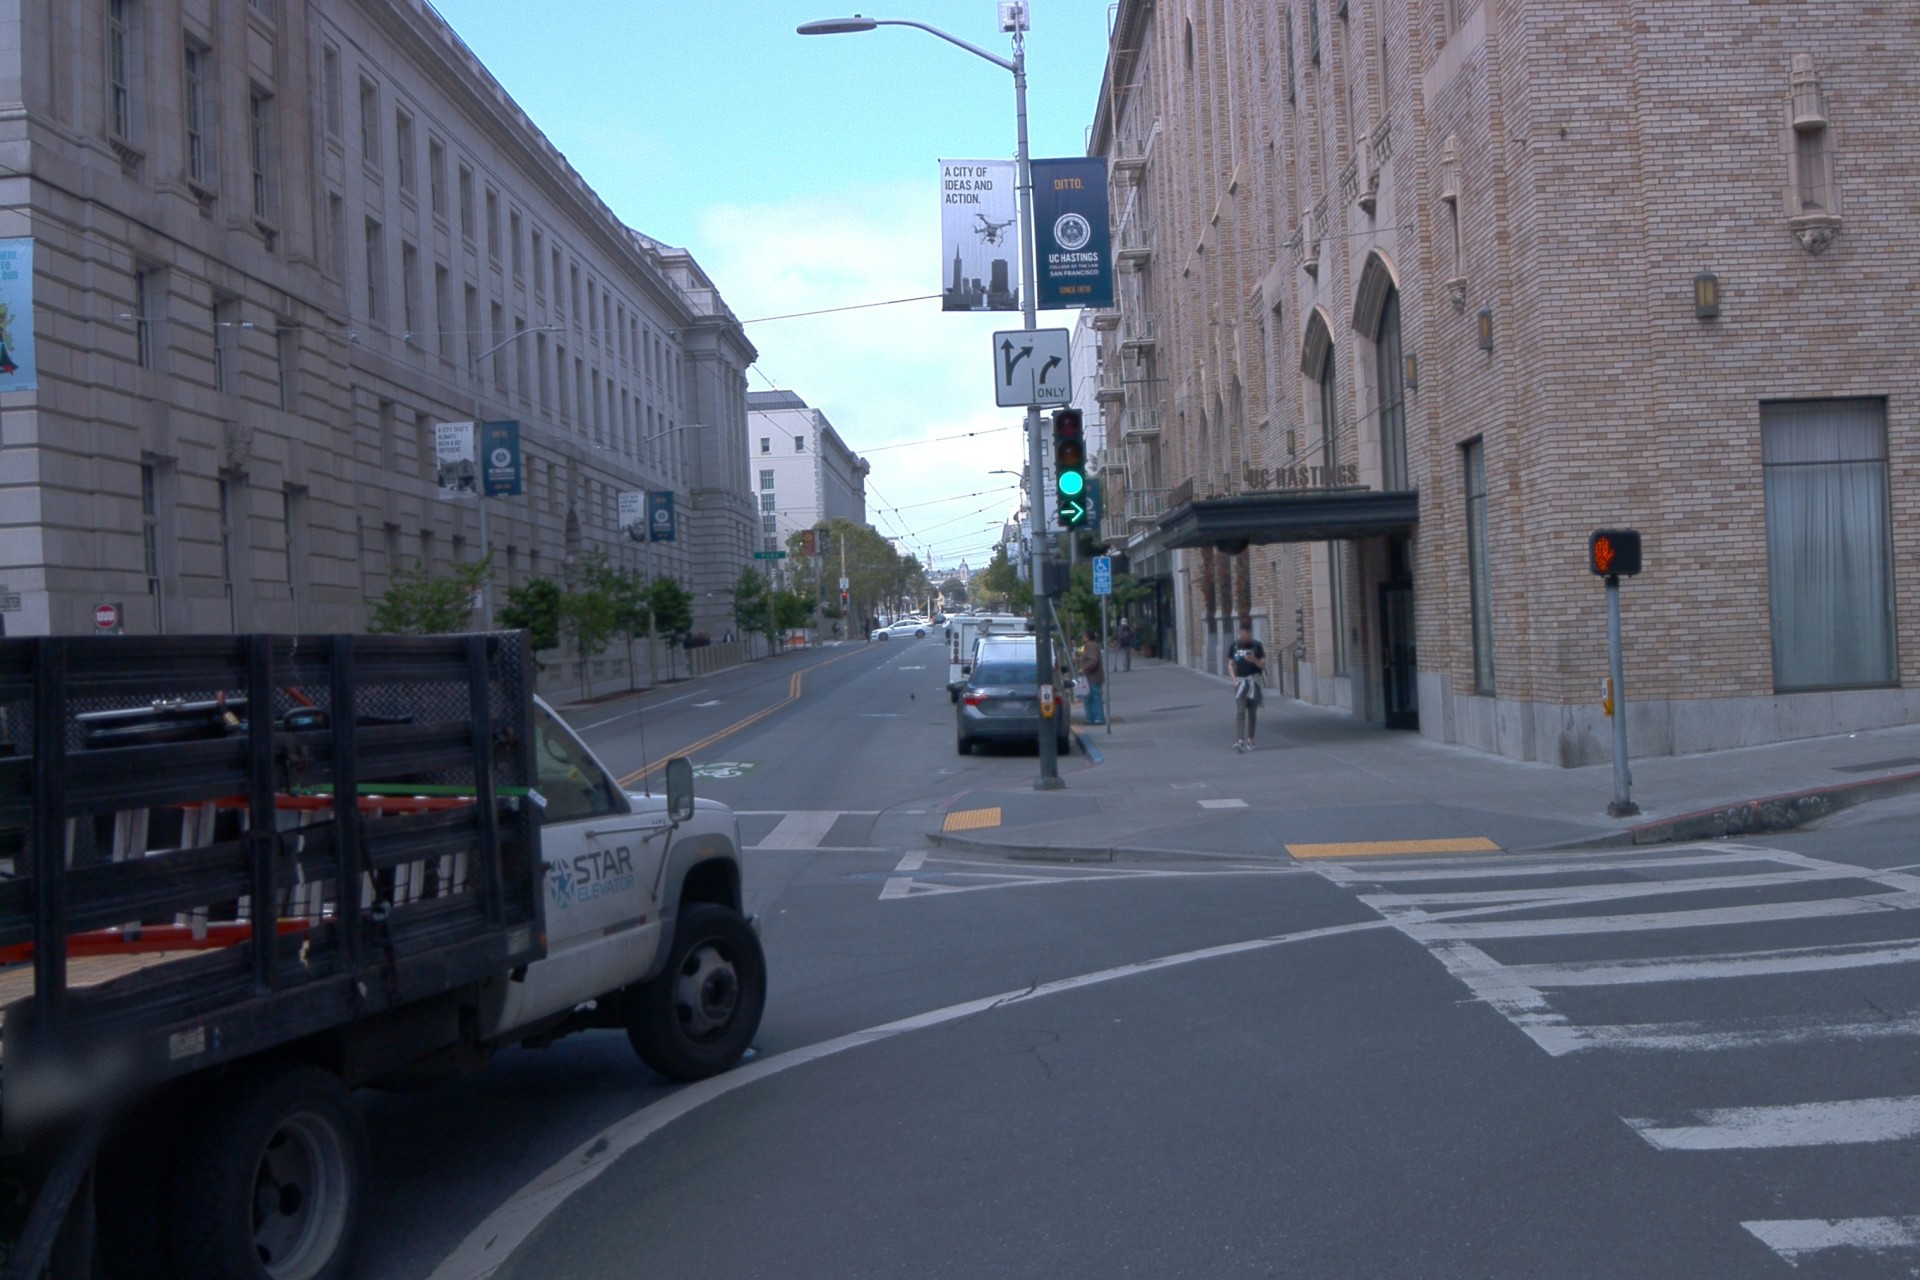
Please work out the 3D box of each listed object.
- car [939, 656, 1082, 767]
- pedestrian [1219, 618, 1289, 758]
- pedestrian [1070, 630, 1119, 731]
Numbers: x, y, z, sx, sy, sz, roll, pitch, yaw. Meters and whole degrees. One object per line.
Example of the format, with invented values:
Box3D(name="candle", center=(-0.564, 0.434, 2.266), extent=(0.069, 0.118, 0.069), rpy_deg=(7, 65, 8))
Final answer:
Box3D(name="car", center=(0.885, 1.087, 33.085), extent=(2.078, 1.560, 4.758), rpy_deg=(0, 1, 4))
Box3D(name="pedestrian", center=(4.111, 0.651, 28.785), extent=(0.955, 1.920, 0.990), rpy_deg=(0, 1, 8))
Box3D(name="pedestrian", center=(2.420, 0.717, 37.093), extent=(0.850, 1.790, 0.981), rpy_deg=(0, 1, 2))
